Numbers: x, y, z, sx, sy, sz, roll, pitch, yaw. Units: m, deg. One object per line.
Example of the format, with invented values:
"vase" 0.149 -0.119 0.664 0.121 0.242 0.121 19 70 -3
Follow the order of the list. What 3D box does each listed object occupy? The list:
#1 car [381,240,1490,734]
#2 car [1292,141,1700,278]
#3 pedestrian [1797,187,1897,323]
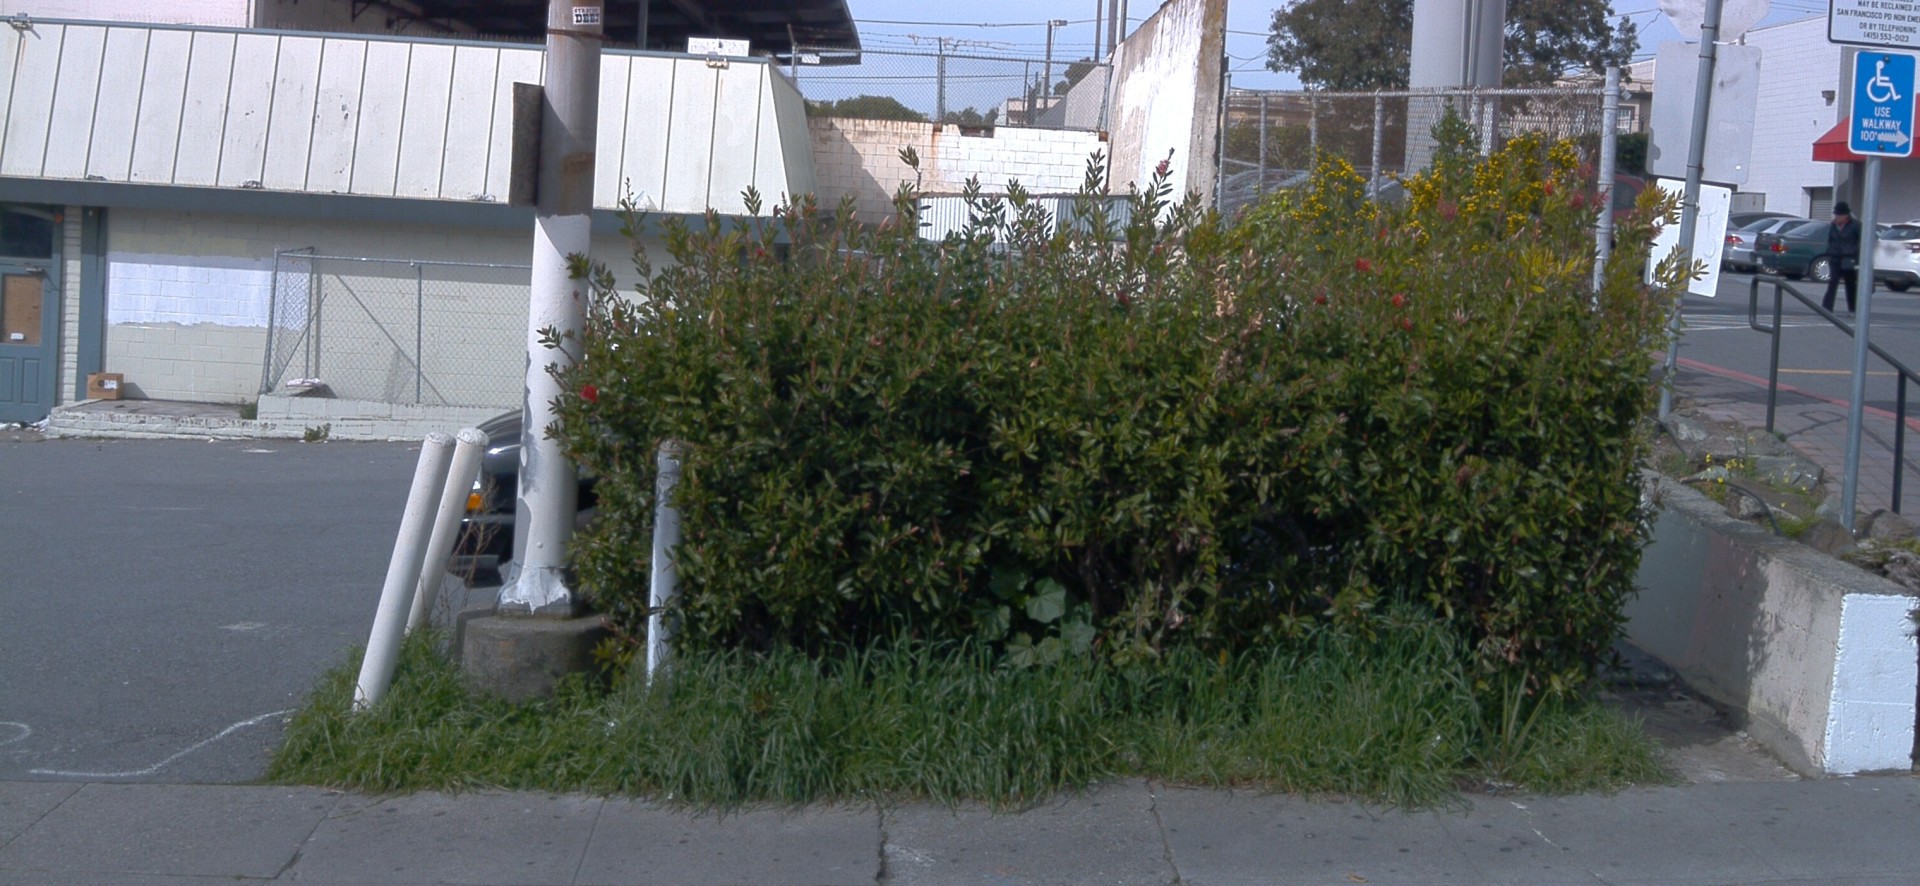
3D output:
"car" -0.119 0.079 9.926 4.799 2.108 2.006 0 3 -2
"car" 6.978 -3.066 27.246 4.792 1.717 2.140 0 3 -3
"pedestrian" 11.420 -2.428 26.575 0.972 1.705 0.840 -1 2 -40
